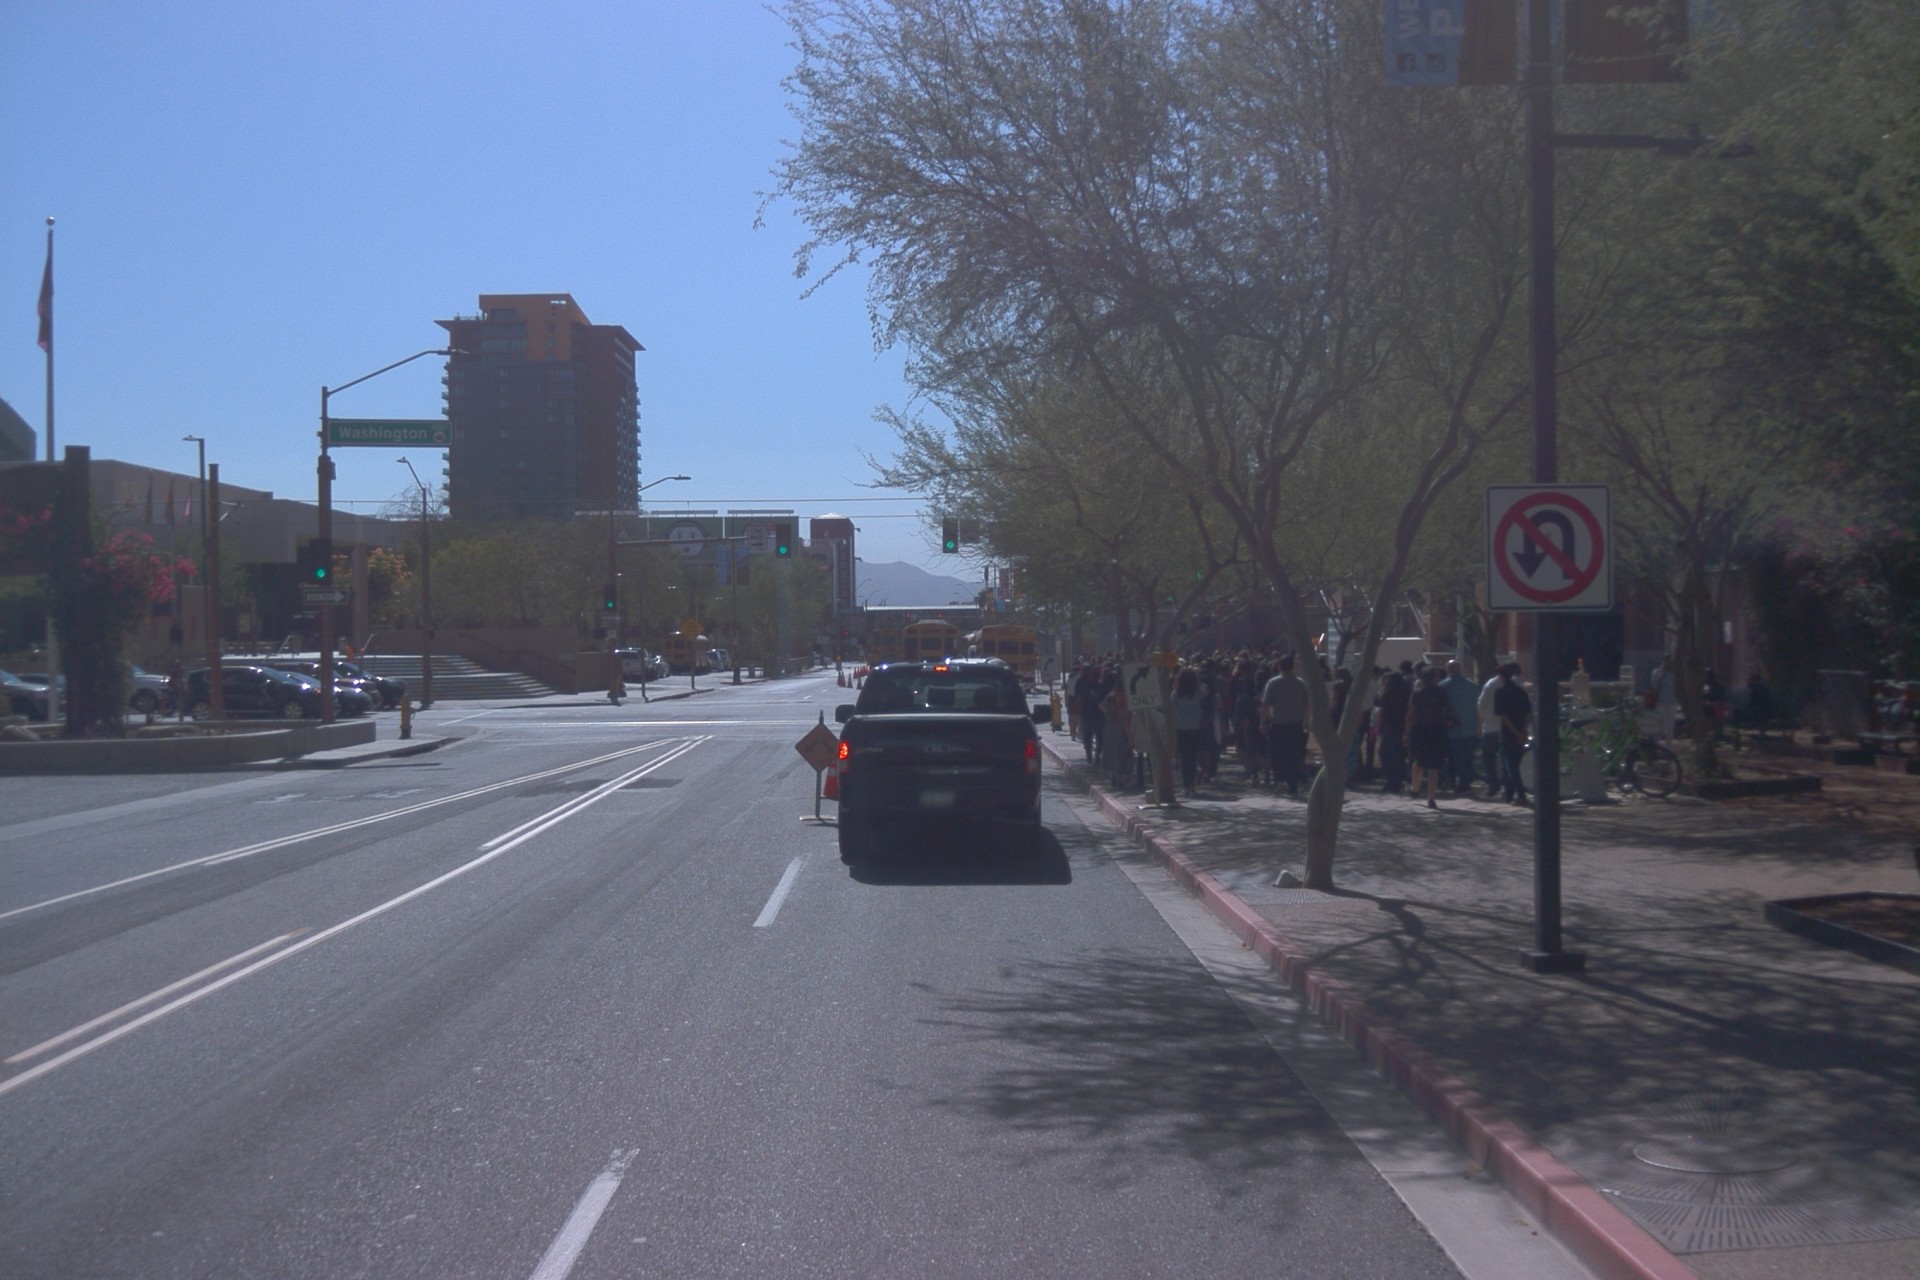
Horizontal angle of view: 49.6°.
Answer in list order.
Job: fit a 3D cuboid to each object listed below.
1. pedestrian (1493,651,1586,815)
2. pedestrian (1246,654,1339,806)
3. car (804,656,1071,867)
[{"bbox_3d":[6.742,1.065,24.223,0.835,1.880,0.792,0,0,-1],"label":"pedestrian"},{"bbox_3d":[4.232,1.128,26.497,0.958,1.900,0.881,0,0,-7],"label":"pedestrian"},{"bbox_3d":[-0.166,1.157,22.131,2.487,1.950,5.329,0,0,1],"label":"car"}]
